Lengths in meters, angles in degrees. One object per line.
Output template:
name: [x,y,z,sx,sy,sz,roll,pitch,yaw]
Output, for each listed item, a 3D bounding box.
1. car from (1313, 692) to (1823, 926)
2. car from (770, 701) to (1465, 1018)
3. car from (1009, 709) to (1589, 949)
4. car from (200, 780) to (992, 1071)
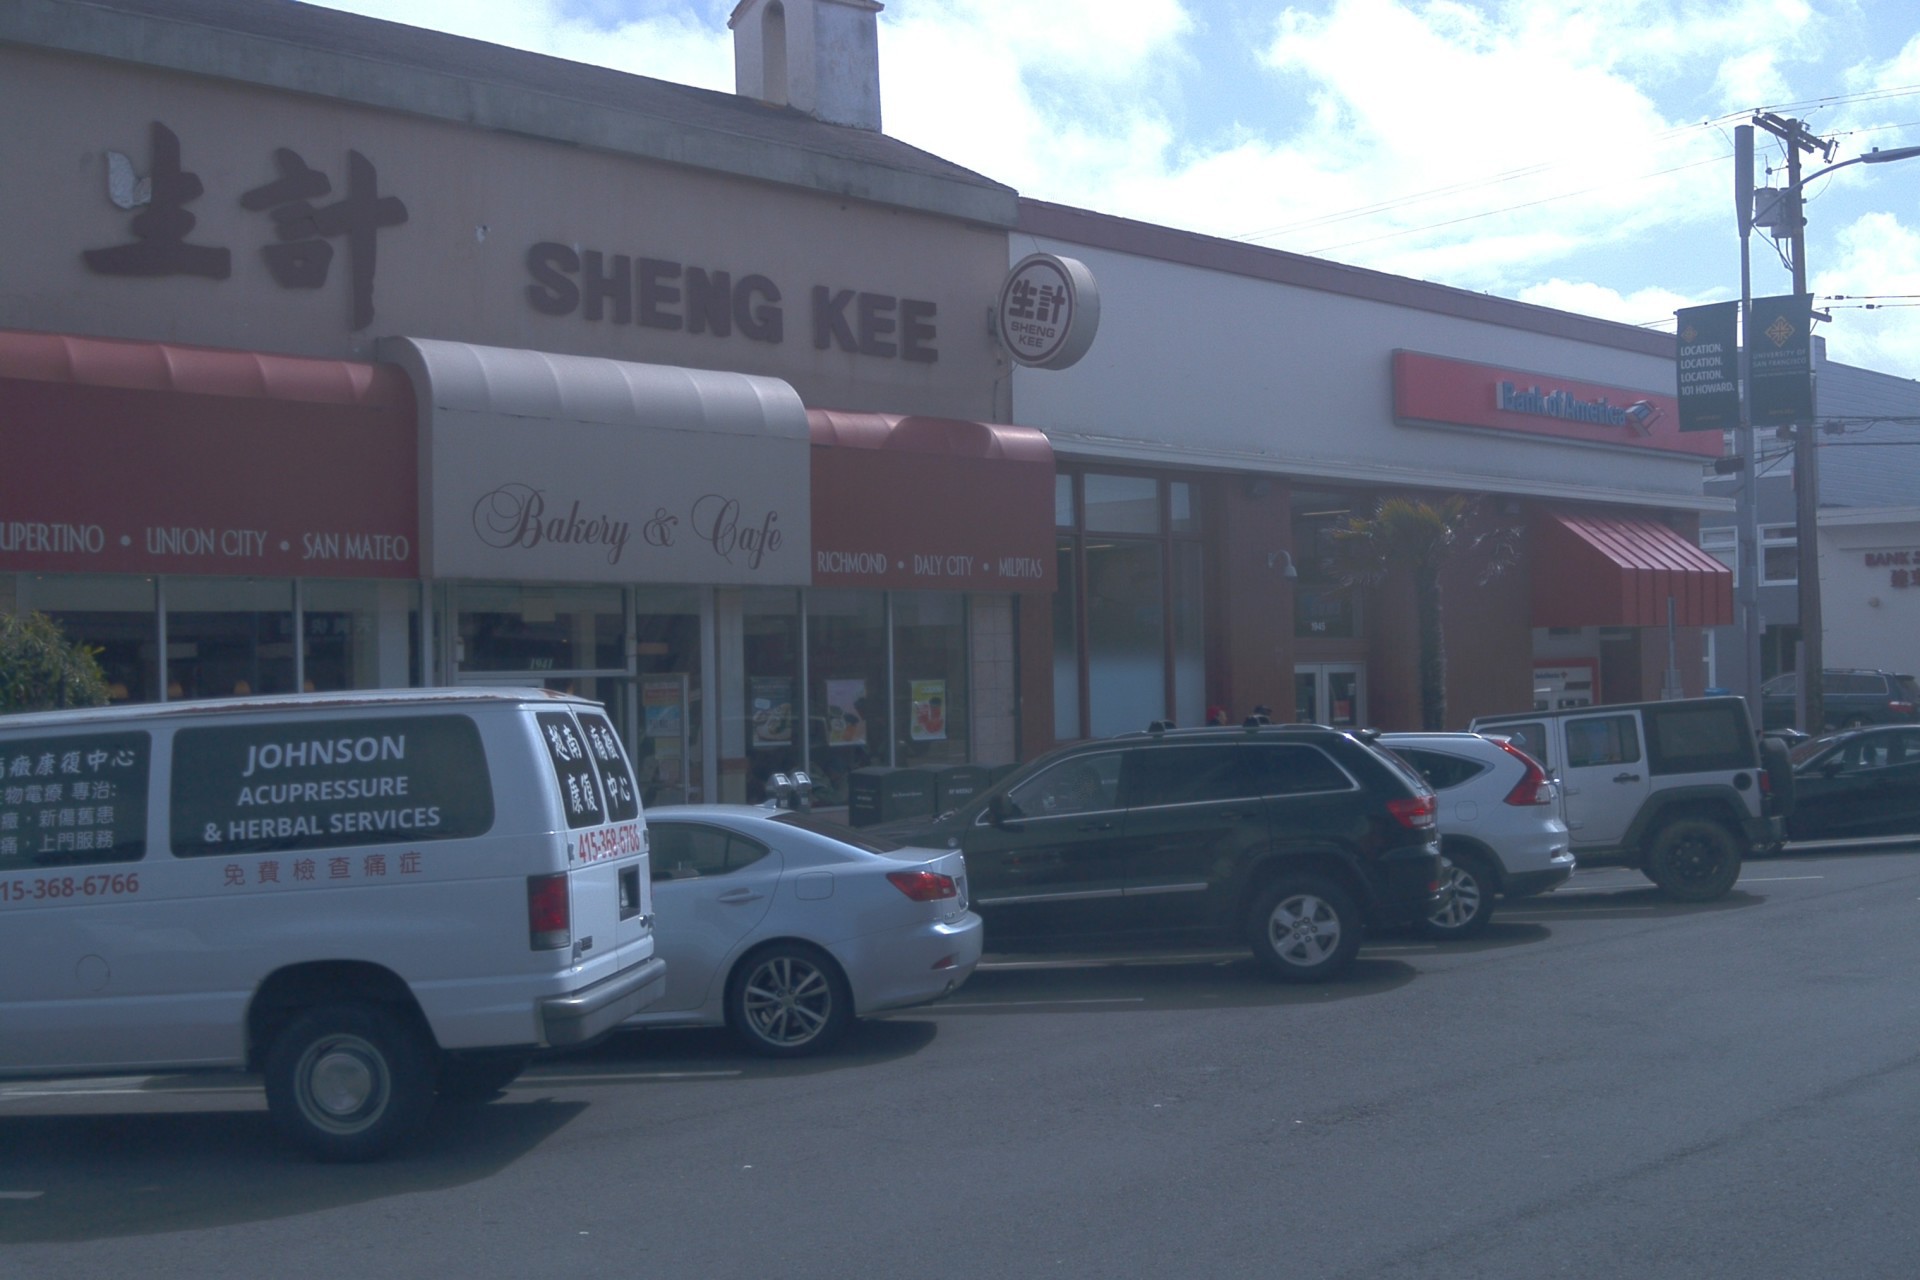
car: [5.603,1.510,19.569,4.390,1.976,2.028,0,0,12]
car: [1.179,1.466,14.906,4.608,1.970,2.237,0,0,8]
car: [2.831,1.486,17.275,4.474,1.720,2.128,0,0,13]
car: [-2.019,1.629,12.447,4.252,1.420,2.017,0,0,5]
